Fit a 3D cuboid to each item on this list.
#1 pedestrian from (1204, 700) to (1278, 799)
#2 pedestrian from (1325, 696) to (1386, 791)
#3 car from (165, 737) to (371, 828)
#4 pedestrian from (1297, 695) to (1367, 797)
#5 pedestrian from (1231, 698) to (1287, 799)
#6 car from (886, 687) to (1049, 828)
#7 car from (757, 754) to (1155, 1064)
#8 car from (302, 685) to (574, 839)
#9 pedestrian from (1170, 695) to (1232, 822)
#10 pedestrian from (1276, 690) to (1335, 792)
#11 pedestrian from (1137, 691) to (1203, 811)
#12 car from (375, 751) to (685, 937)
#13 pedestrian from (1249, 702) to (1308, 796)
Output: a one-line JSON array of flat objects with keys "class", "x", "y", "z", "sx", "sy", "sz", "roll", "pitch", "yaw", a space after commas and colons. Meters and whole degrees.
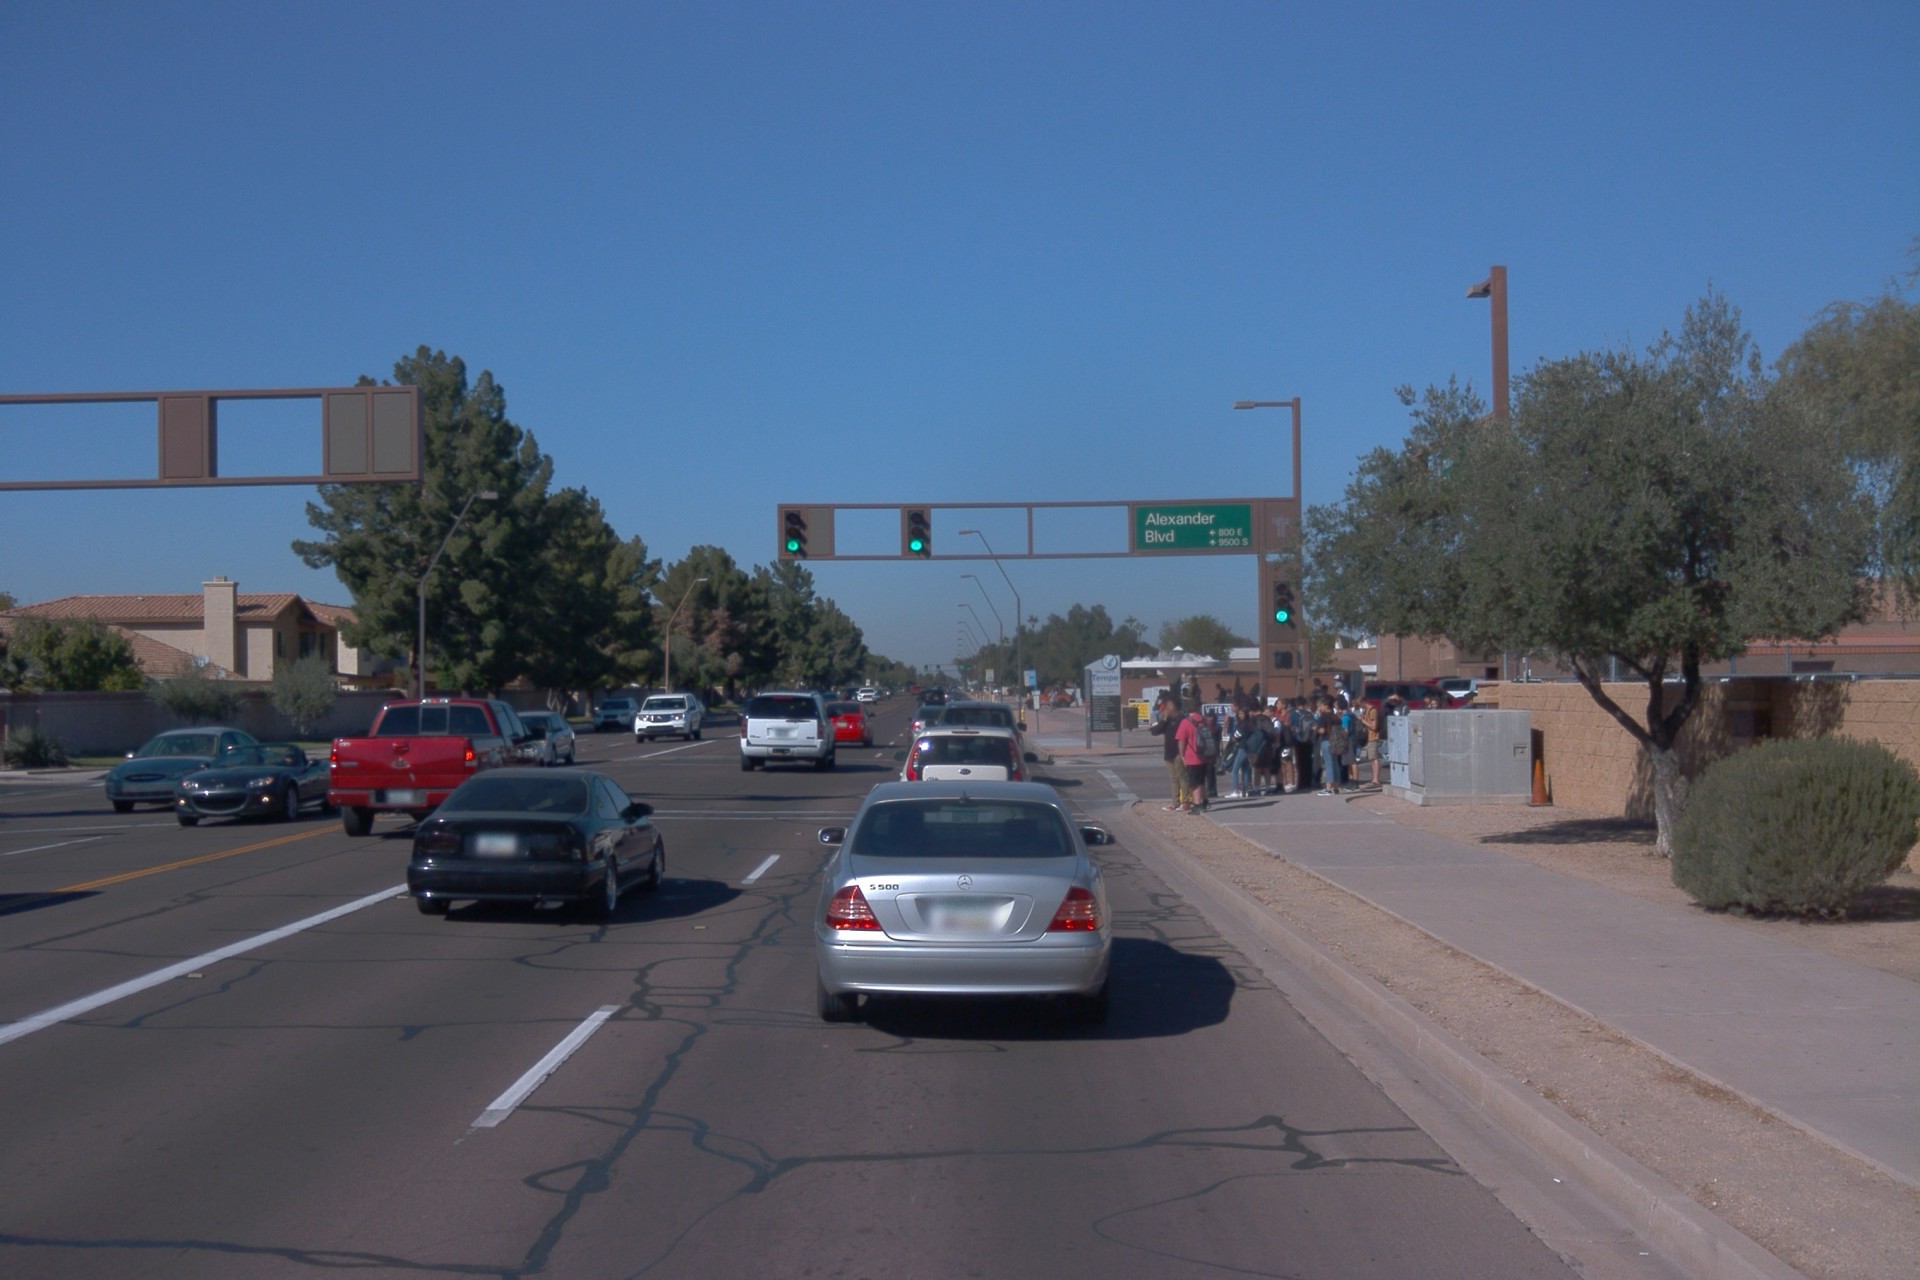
[{"class": "pedestrian", "x": 4.871, "y": 1.878, "z": 36.051, "sx": 1.032, "sy": 1.670, "sz": 0.875, "roll": 0, "pitch": -1, "yaw": 29}, {"class": "pedestrian", "x": 7.053, "y": 1.837, "z": 37.090, "sx": 0.887, "sy": 1.680, "sz": 0.860, "roll": 0, "pitch": -1, "yaw": -3}, {"class": "car", "x": -10.953, "y": 2.234, "z": 33.203, "sx": 1.989, "sy": 1.260, "sz": 3.971, "roll": 0, "pitch": -1, "yaw": 0}, {"class": "pedestrian", "x": 6.352, "y": 1.790, "z": 35.506, "sx": 0.844, "sy": 1.710, "sz": 0.856, "roll": 1, "pitch": -1, "yaw": -44}, {"class": "pedestrian", "x": 5.284, "y": 1.910, "z": 36.765, "sx": 0.860, "sy": 1.750, "sz": 0.887, "roll": 0, "pitch": -1, "yaw": 0}, {"class": "car", "x": 0.143, "y": 1.531, "z": 28.476, "sx": 2.056, "sy": 1.760, "sz": 4.487, "roll": 0, "pitch": -1, "yaw": 1}, {"class": "car", "x": -0.023, "y": 1.659, "z": 14.118, "sx": 2.265, "sy": 1.600, "sz": 4.514, "roll": 0, "pitch": -1, "yaw": 0}, {"class": "car", "x": -7.280, "y": 1.642, "z": 29.770, "sx": 2.581, "sy": 1.980, "sz": 5.796, "roll": 0, "pitch": -1, "yaw": -1}, {"class": "pedestrian", "x": 3.723, "y": 1.811, "z": 32.055, "sx": 0.877, "sy": 1.910, "sz": 0.878, "roll": 0, "pitch": -1, "yaw": 11}, {"class": "pedestrian", "x": 6.238, "y": 1.822, "z": 37.592, "sx": 0.887, "sy": 1.820, "sz": 0.860, "roll": 0, "pitch": -1, "yaw": -3}, {"class": "pedestrian", "x": 3.369, "y": 1.762, "z": 33.298, "sx": 0.822, "sy": 1.890, "sz": 0.887, "roll": 0, "pitch": -1, "yaw": 23}, {"class": "car", "x": -3.913, "y": 1.830, "z": 19.700, "sx": 1.915, "sy": 1.410, "sz": 4.397, "roll": 0, "pitch": -1, "yaw": 1}, {"class": "pedestrian", "x": 5.683, "y": 1.929, "z": 37.137, "sx": 0.887, "sy": 1.650, "sz": 0.860, "roll": 0, "pitch": -1, "yaw": -3}]
